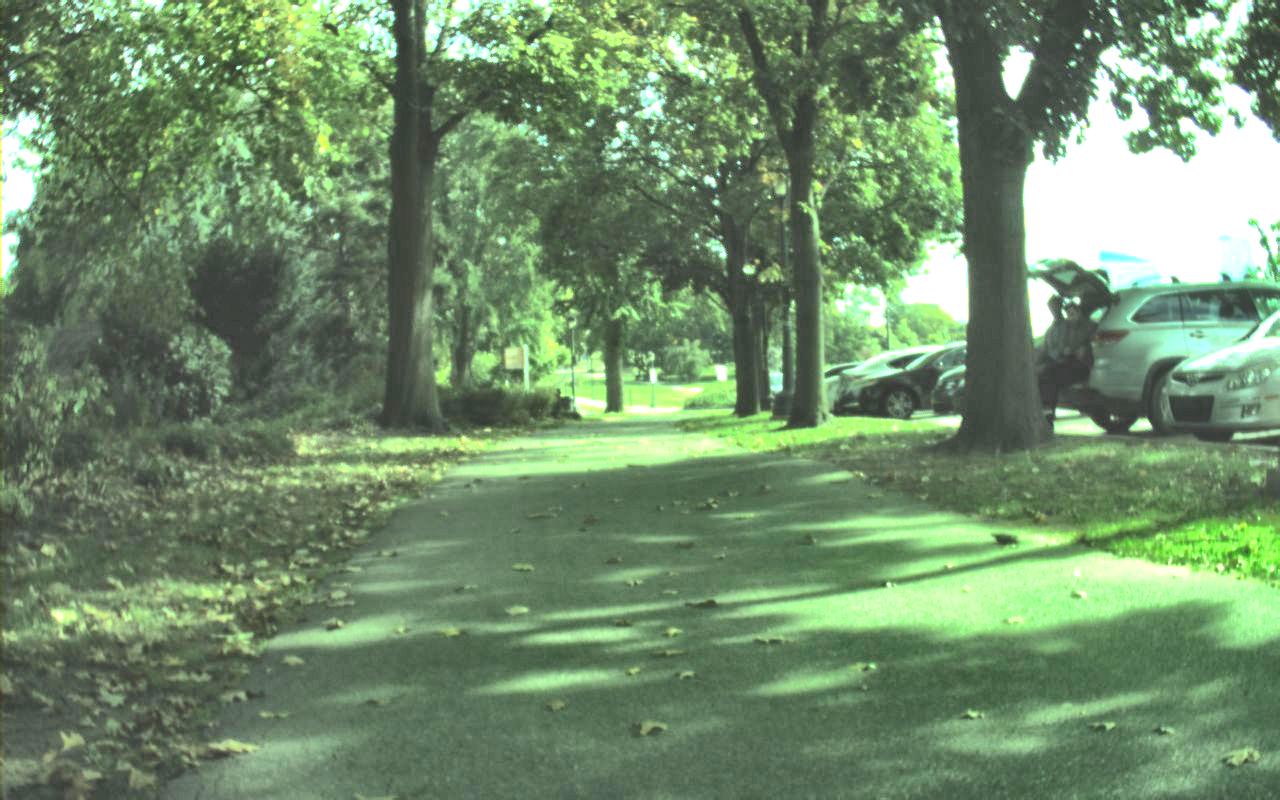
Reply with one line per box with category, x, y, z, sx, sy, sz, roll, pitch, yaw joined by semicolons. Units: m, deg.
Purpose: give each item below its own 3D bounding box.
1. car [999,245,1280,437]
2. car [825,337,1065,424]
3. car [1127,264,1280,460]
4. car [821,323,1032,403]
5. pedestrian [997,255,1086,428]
car;6.426;-0.601;13.442;4.435;1.964;2.009;0;1;0
car;5.990;-0.372;24.482;4.454;1.616;1.978;0;1;-3
car;6.935;-0.303;10.640;4.452;1.593;1.965;0;1;-11
car;6.348;-0.786;27.672;4.410;1.680;1.961;0;1;-4
pedestrian;4.493;-0.633;13.670;0.961;1.880;0.897;1;0;14
